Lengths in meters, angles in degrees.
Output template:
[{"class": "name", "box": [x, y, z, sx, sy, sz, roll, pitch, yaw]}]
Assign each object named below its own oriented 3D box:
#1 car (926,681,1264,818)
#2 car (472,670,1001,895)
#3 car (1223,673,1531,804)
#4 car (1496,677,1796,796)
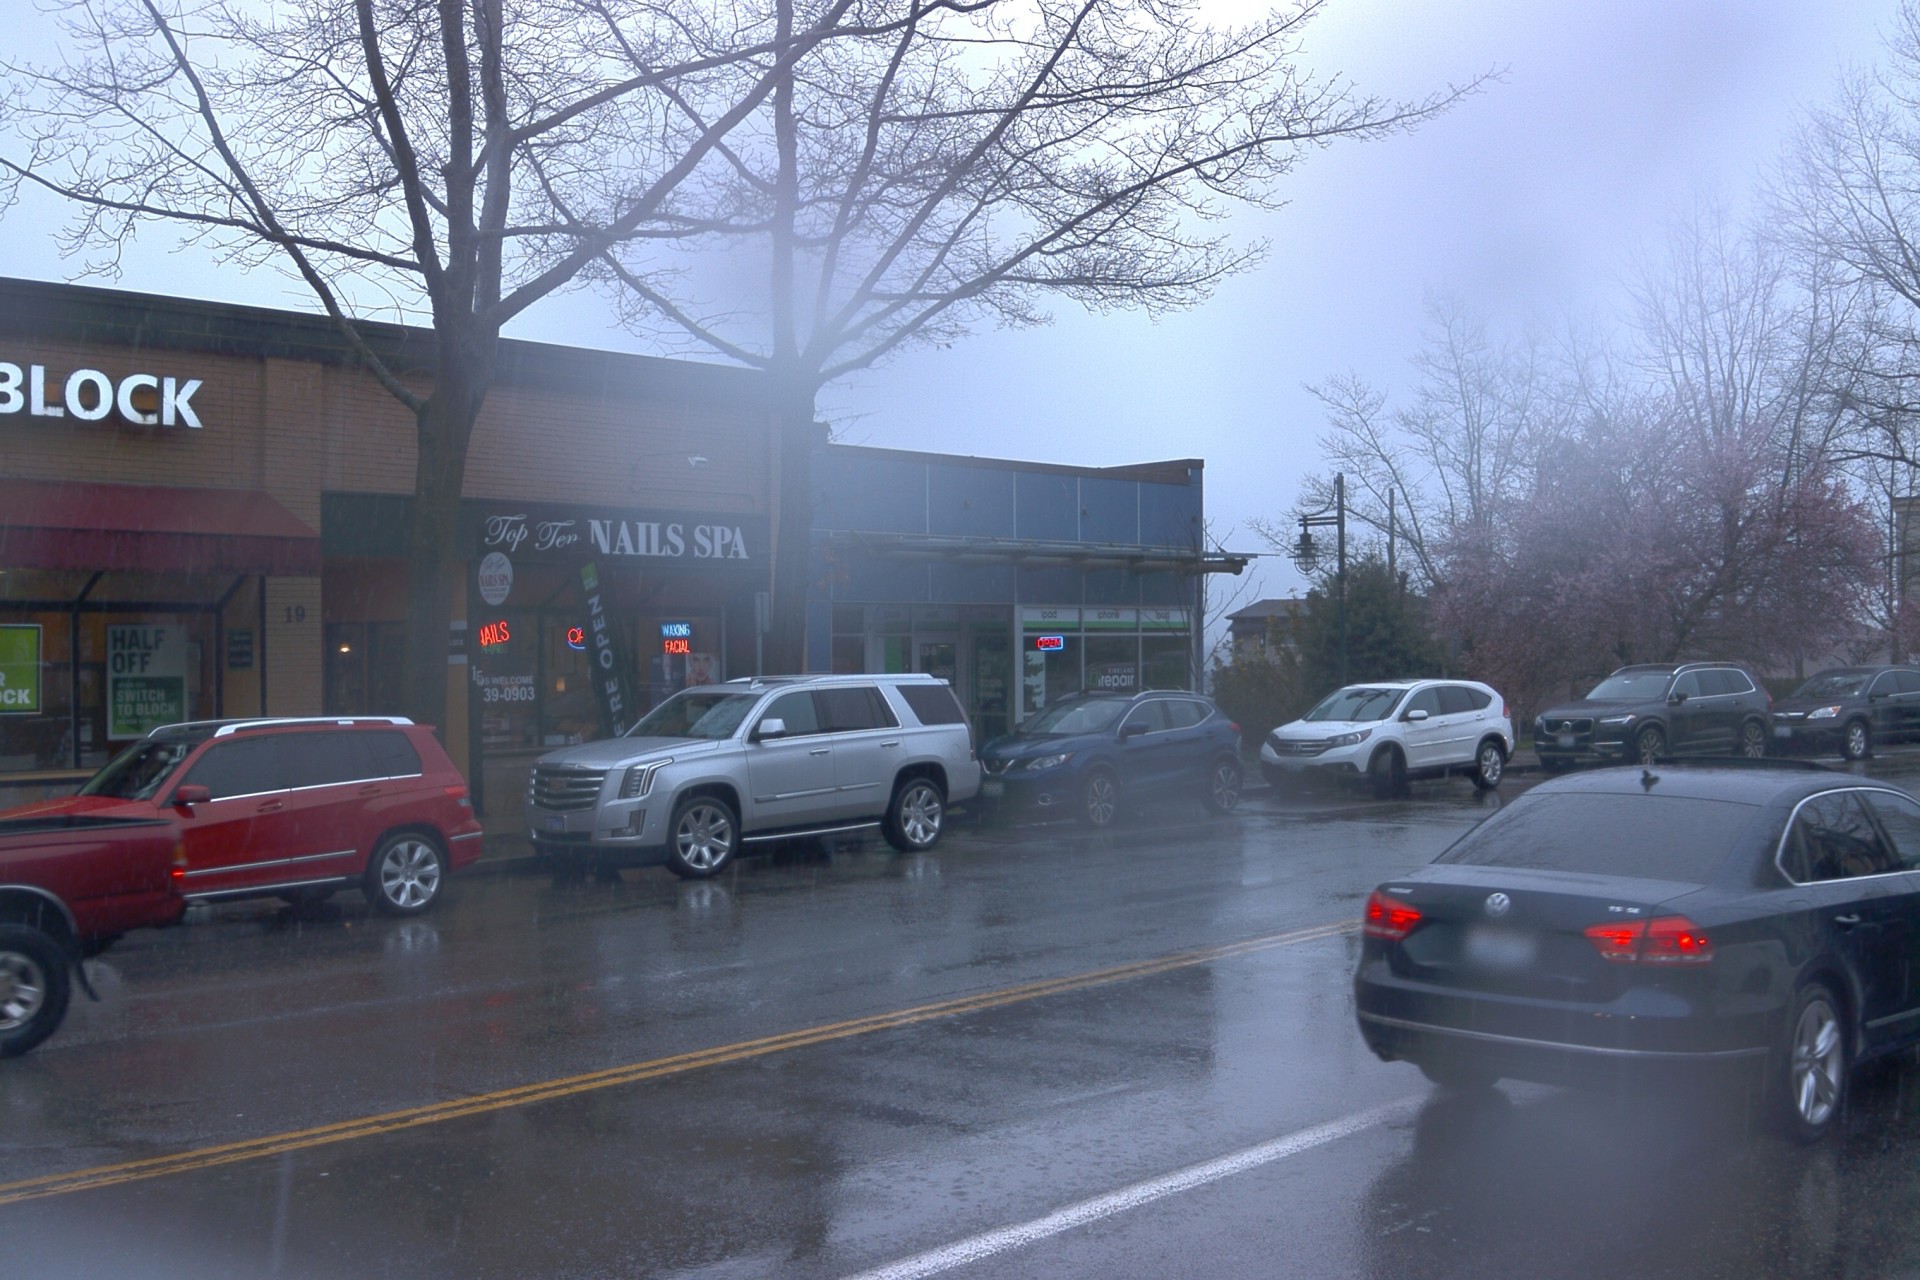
[{"class": "car", "box": [1.757, 1.281, 25.602, 1.999, 1.400, 4.335, 1, 1, 40]}, {"class": "car", "box": [-2.163, 1.327, 21.342, 2.331, 1.890, 5.194, 1, 1, 42]}, {"class": "car", "box": [6.109, 1.355, 29.946, 4.481, 1.610, 2.181, -1, 1, -43]}, {"class": "car", "box": [11.497, 1.544, 34.431, 5.296, 1.690, 2.144, -1, 1, -37]}]
